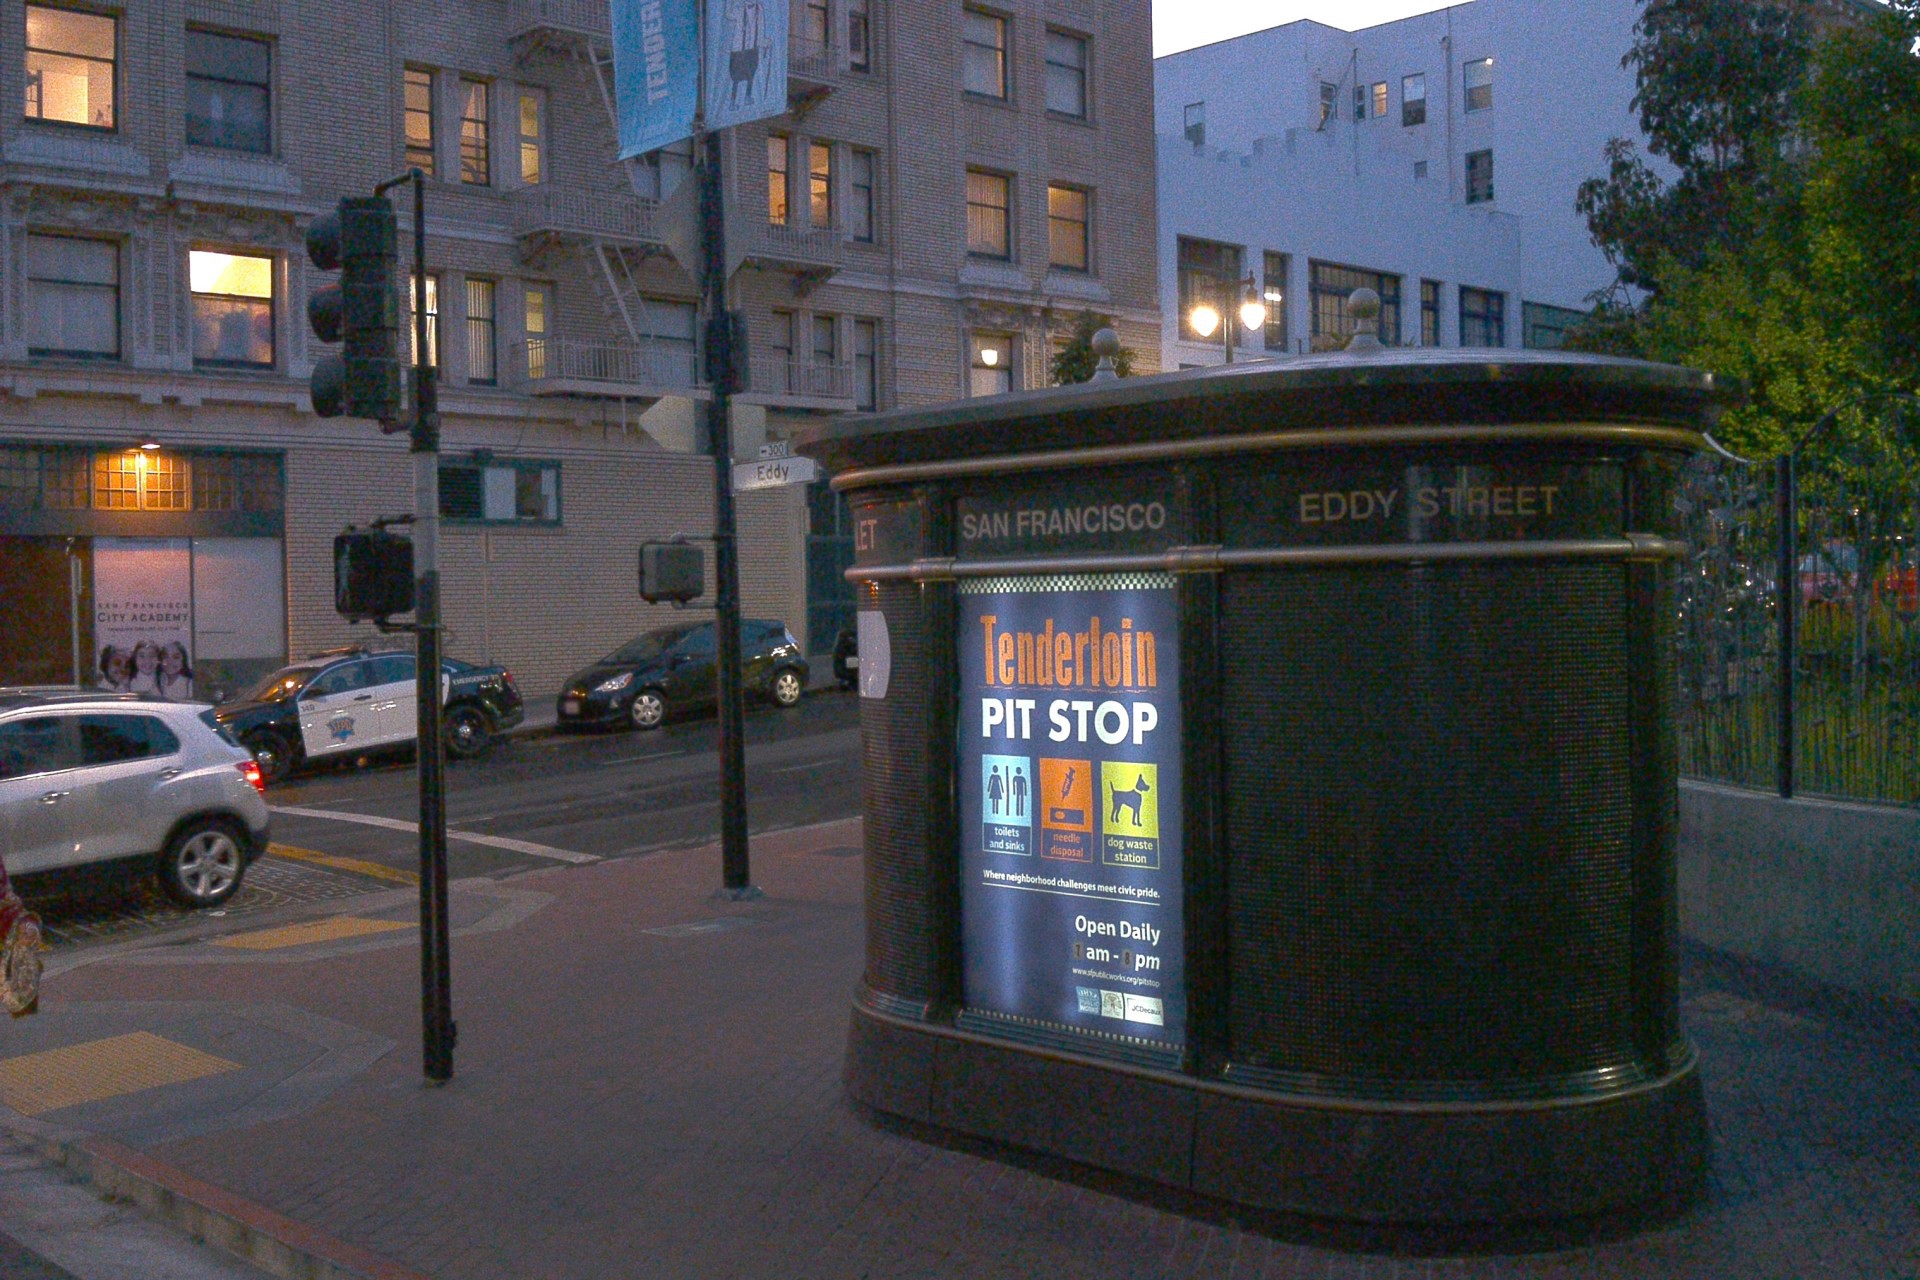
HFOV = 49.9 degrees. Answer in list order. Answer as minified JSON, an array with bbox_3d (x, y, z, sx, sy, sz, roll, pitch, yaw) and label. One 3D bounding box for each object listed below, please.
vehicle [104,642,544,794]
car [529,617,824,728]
[{"bbox_3d":[-8.186,0.923,26.963,2.095,1.750,5.105,1,1,44],"label":"vehicle"},{"bbox_3d":[-4.200,0.433,30.938,3.987,1.540,1.958,-1,1,-44],"label":"car"}]
